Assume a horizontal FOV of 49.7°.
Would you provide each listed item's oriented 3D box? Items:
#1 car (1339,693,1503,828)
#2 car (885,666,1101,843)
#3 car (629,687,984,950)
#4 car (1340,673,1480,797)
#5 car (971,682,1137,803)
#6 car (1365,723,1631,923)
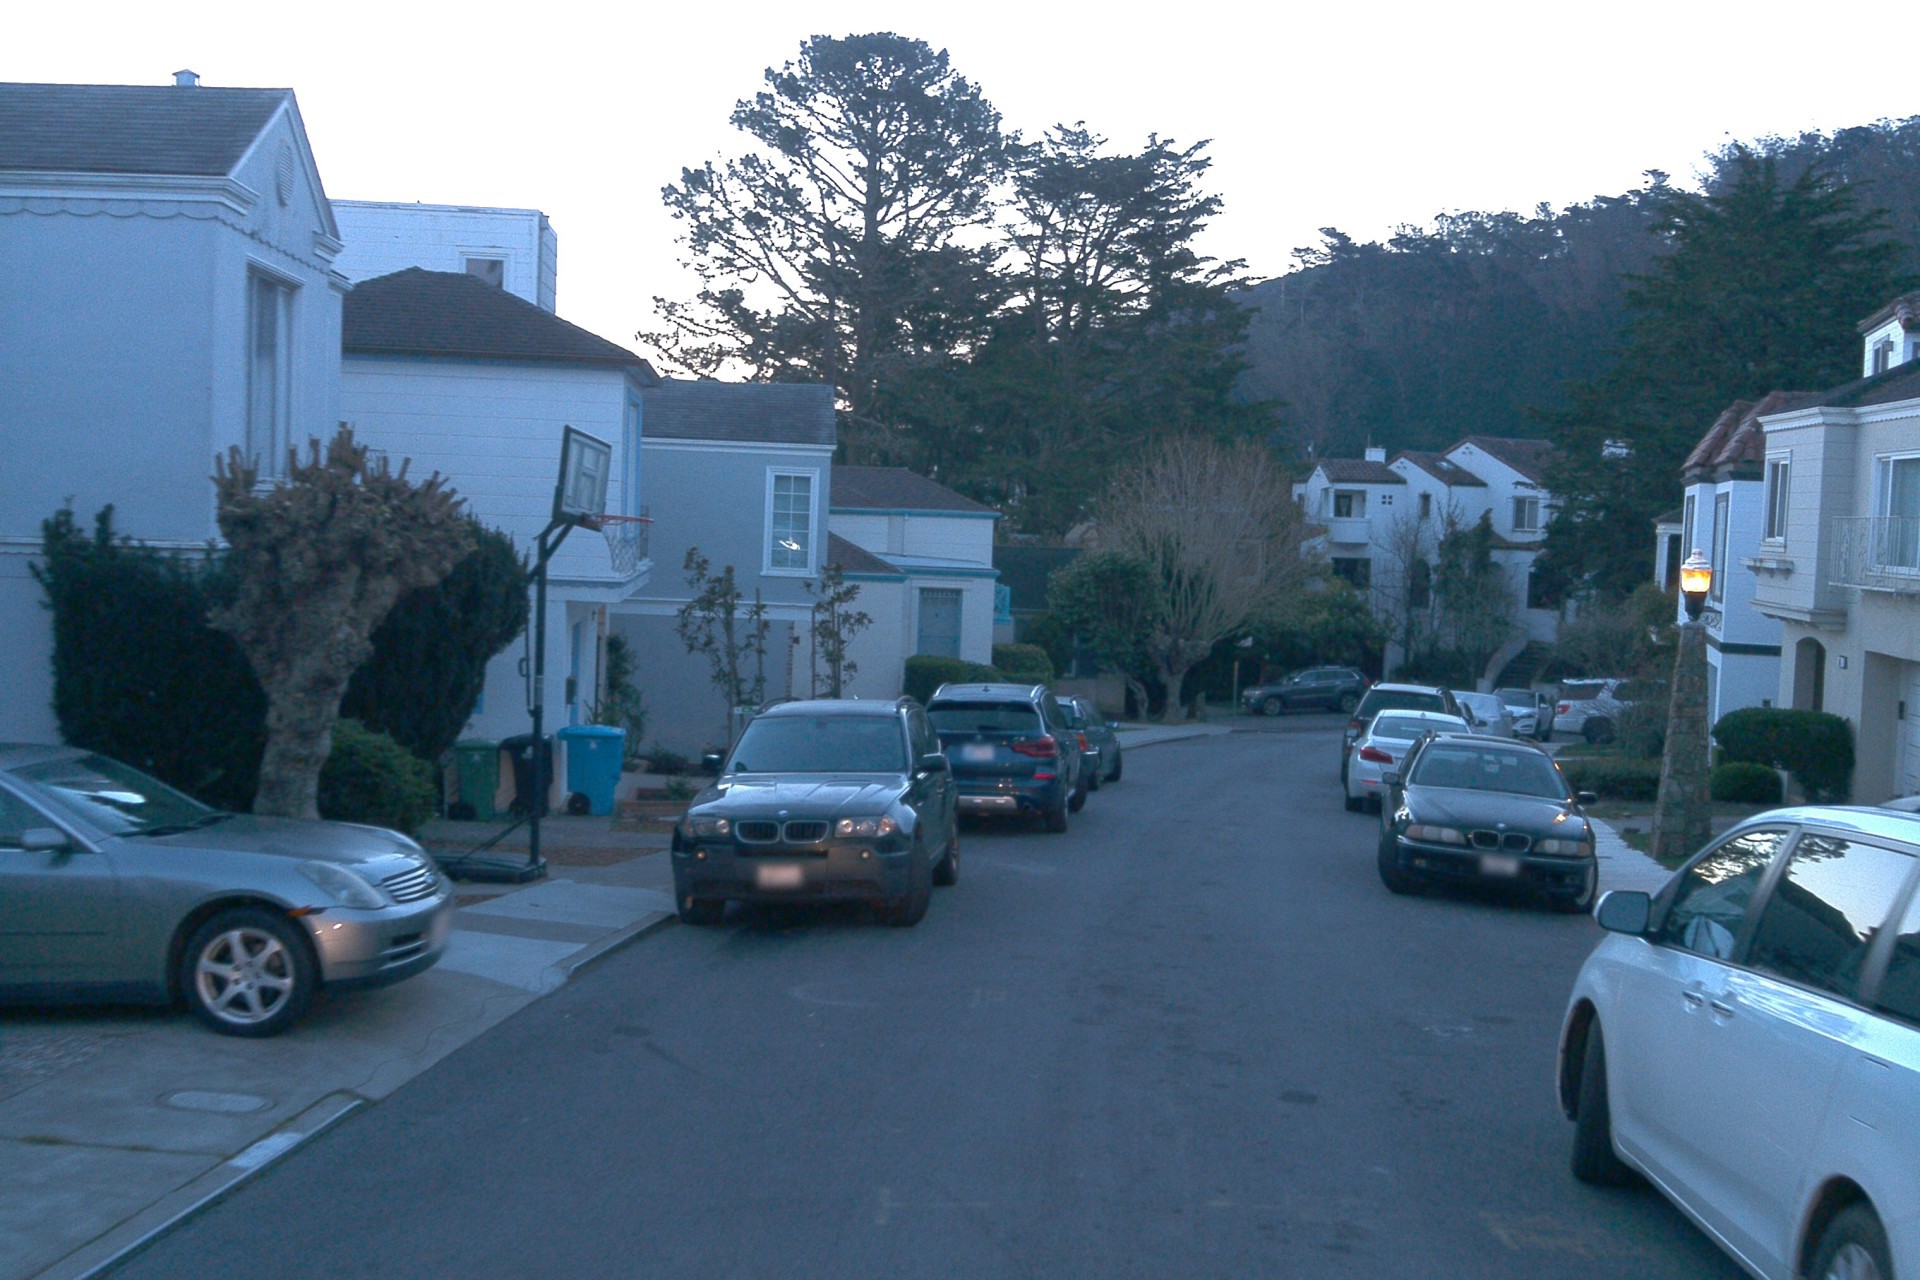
[{"bbox_3d":[6.594,1.647,29.715,2.107,1.660,4.900,0,0,12],"label":"car"},{"bbox_3d":[0.515,1.263,24.790,2.210,1.870,4.683,0,0,6],"label":"car"},{"bbox_3d":[-1.058,1.296,16.768,2.095,1.740,4.526,0,0,6],"label":"car"},{"bbox_3d":[7.870,1.569,35.896,2.082,1.940,4.622,0,0,16],"label":"car"},{"bbox_3d":[1.529,1.499,31.759,1.919,1.640,4.462,0,0,11],"label":"car"},{"bbox_3d":[5.100,1.667,20.268,2.125,1.520,4.900,0,0,10],"label":"car"}]
